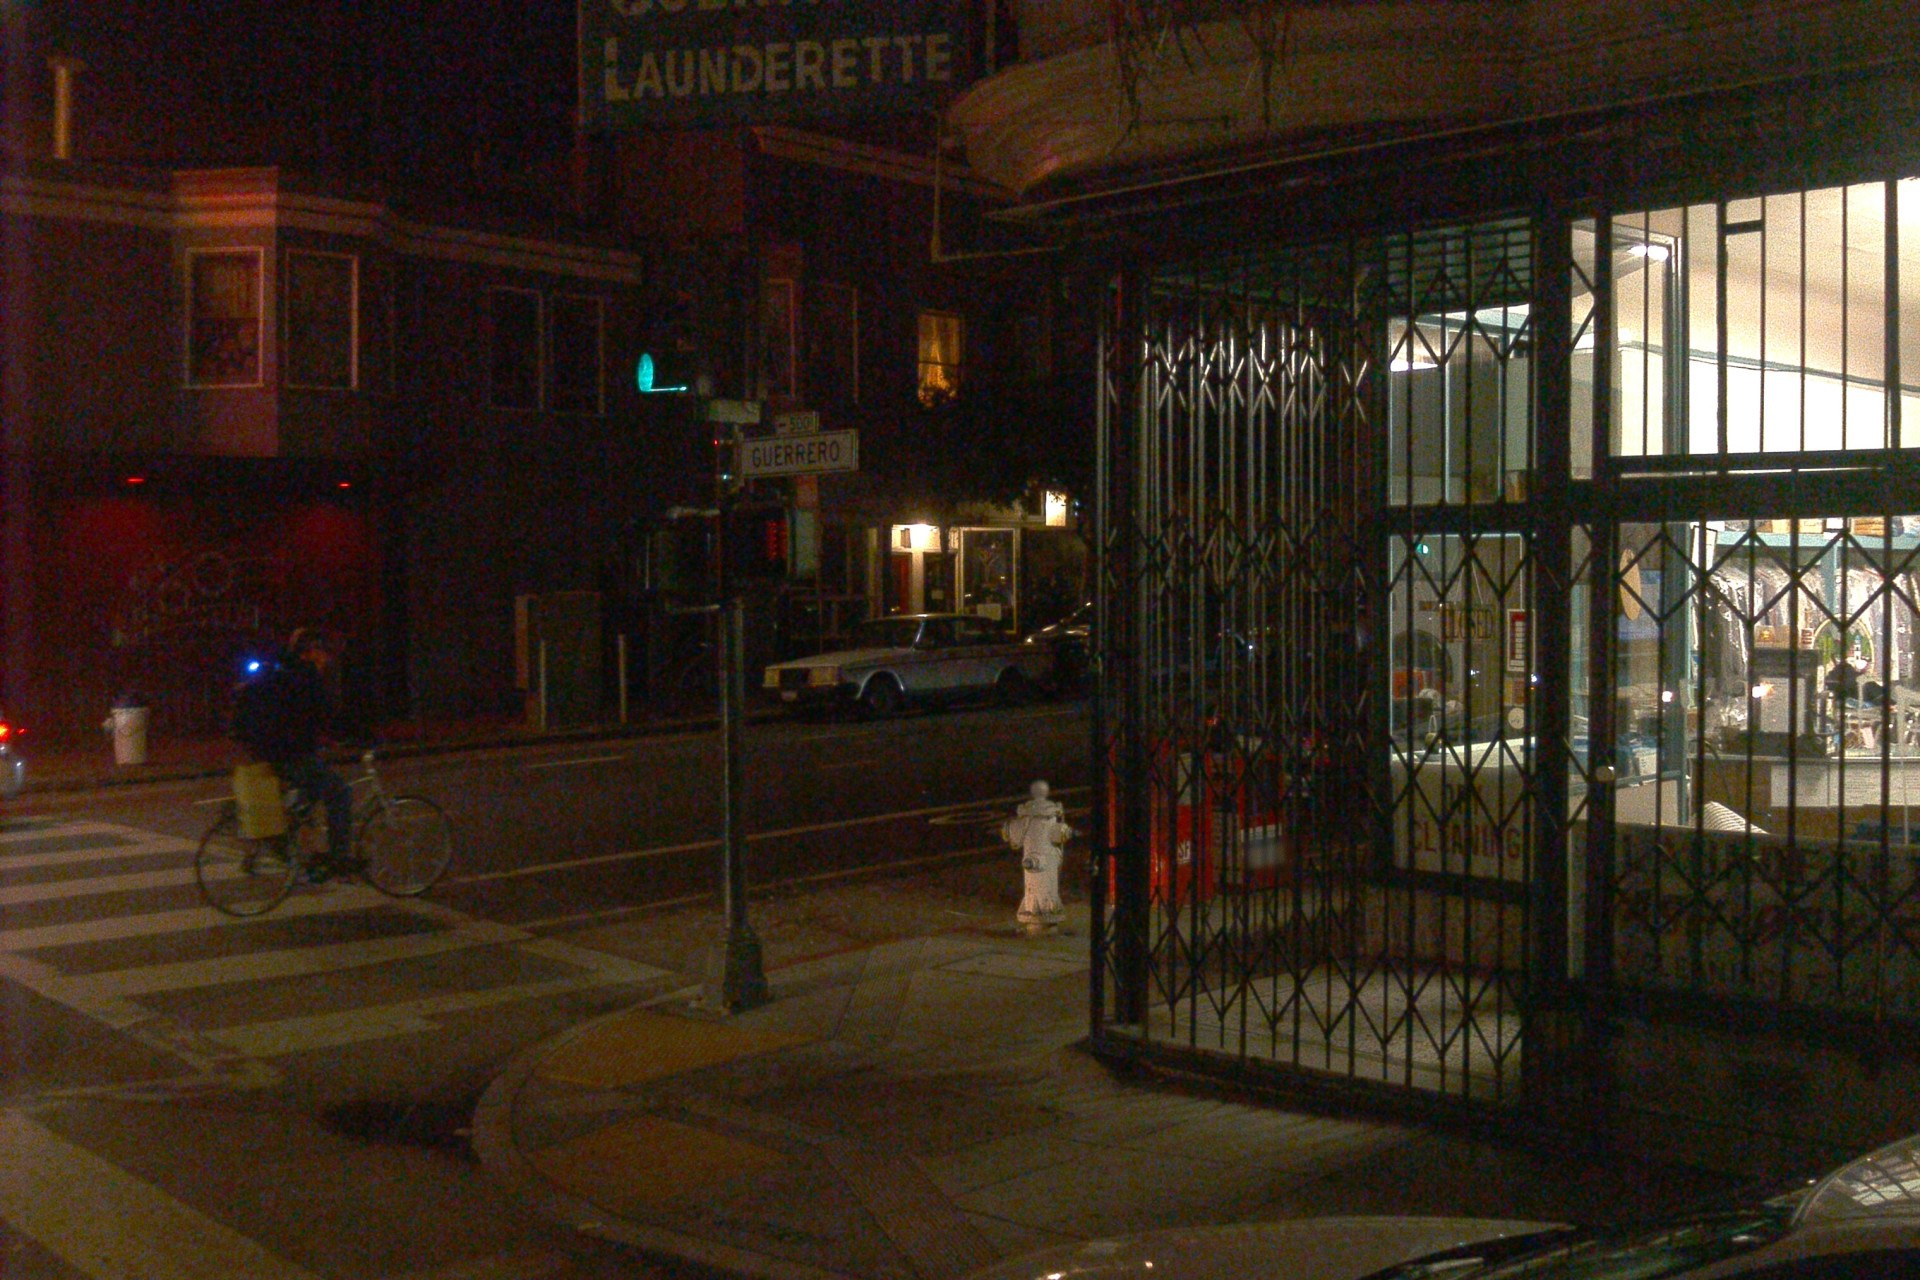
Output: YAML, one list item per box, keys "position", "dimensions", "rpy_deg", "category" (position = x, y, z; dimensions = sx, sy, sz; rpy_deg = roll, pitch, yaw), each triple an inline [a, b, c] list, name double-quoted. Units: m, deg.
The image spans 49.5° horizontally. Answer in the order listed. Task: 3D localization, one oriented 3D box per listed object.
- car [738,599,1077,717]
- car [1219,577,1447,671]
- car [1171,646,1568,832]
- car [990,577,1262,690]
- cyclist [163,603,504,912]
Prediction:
- position: [-0.653, 0.257, 29.839]
  dimensions: [1.884, 1.550, 4.981]
  rpy_deg: [1, 0, 43]
  category: "car"
- position: [6.680, -0.262, 37.012]
  dimensions: [1.924, 1.570, 4.226]
  rpy_deg: [1, 0, 45]
  category: "car"
- position: [3.605, 0.794, 18.001]
  dimensions: [3.504, 1.420, 1.655]
  rpy_deg: [1, 0, -45]
  category: "car"
- position: [2.702, -0.081, 33.202]
  dimensions: [1.991, 1.690, 4.349]
  rpy_deg: [1, 0, 44]
  category: "car"
- position: [-4.062, 0.720, 13.578]
  dimensions: [1.941, 1.870, 0.826]
  rpy_deg: [1, 0, -43]
  category: "cyclist"
